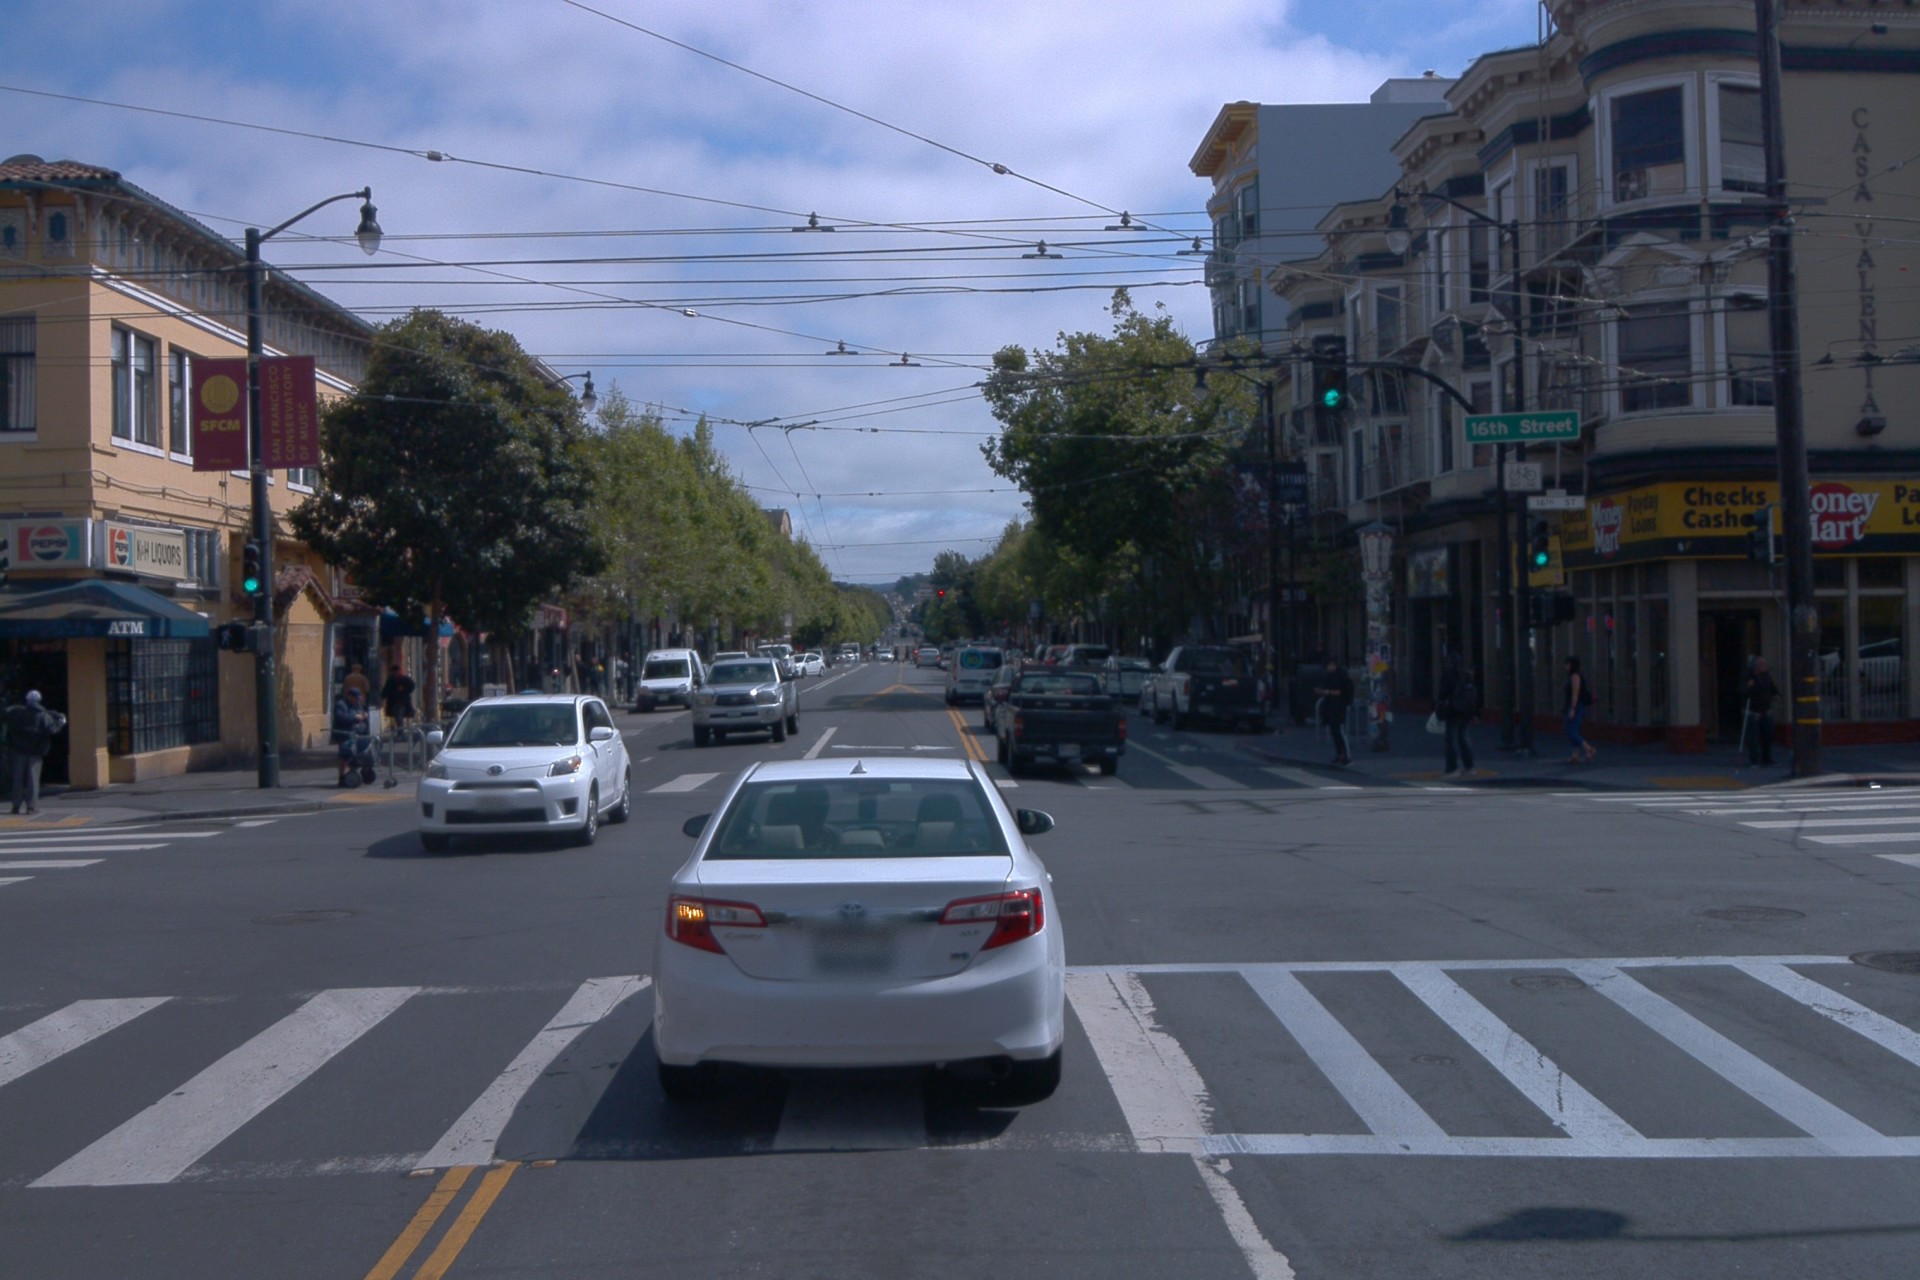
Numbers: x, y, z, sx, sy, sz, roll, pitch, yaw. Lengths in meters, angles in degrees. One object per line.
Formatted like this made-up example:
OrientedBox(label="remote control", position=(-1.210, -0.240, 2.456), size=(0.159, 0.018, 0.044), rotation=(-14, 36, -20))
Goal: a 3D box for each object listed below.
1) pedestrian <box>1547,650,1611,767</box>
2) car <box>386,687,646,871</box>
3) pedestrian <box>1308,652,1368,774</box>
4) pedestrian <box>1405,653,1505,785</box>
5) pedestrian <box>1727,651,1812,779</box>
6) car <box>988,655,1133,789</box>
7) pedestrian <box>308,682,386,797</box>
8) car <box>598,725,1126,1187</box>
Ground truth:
OrientedBox(label="pedestrian", position=(9.506, 1.038, 31.587), size=(0.932, 1.750, 0.695), rotation=(0, 1, 16))
OrientedBox(label="car", position=(-4.534, 1.369, 21.559), size=(1.947, 1.610, 3.886), rotation=(0, 1, -1))
OrientedBox(label="pedestrian", position=(6.066, 1.156, 33.004), size=(0.766, 1.920, 0.749), rotation=(0, 1, -4))
OrientedBox(label="pedestrian", position=(7.451, 1.169, 30.943), size=(0.932, 1.920, 1.116), rotation=(-1, 1, -35))
OrientedBox(label="pedestrian", position=(11.740, 1.064, 29.850), size=(1.002, 1.790, 1.325), rotation=(0, 1, 15))
OrientedBox(label="car", position=(1.472, 1.192, 31.691), size=(1.837, 1.810, 4.425), rotation=(0, 1, -2))
OrientedBox(label="pedestrian", position=(-9.905, 1.597, 33.225), size=(0.827, 1.790, 0.866), rotation=(0, 1, 34))
OrientedBox(label="car", position=(-0.455, 1.341, 10.404), size=(2.079, 1.570, 4.572), rotation=(0, 1, -2))
